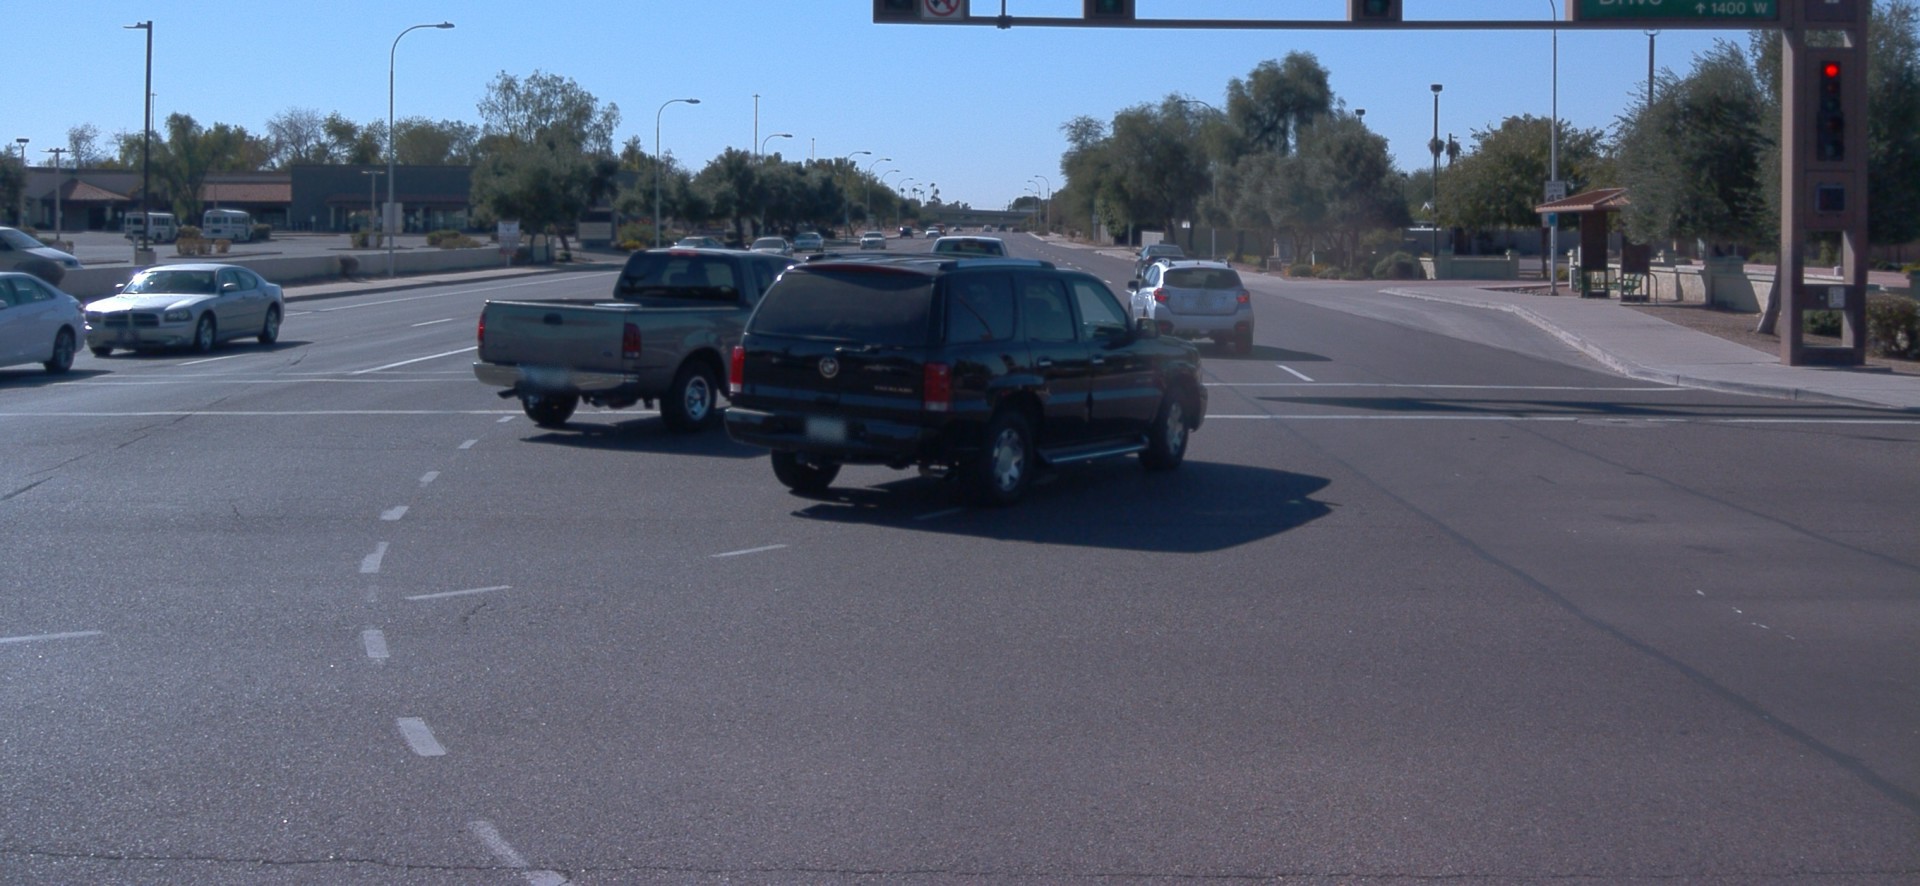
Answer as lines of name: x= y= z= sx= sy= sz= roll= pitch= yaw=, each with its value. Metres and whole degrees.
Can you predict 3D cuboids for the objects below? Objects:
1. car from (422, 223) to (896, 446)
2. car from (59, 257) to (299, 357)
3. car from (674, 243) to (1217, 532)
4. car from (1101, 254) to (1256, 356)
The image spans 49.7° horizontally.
car: x=-3.009 y=-1.335 z=22.491 sx=2.259 sy=2.072 sz=5.883 roll=2 pitch=5 yaw=24
car: x=-13.125 y=-2.373 z=35.212 sx=2.074 sy=1.493 sz=4.833 roll=0 pitch=5 yaw=2
car: x=0.097 y=-0.649 z=17.110 sx=2.196 sy=1.963 sz=5.091 roll=2 pitch=6 yaw=30
car: x=3.783 y=-2.496 z=36.667 sx=2.080 sy=1.603 sz=4.786 roll=0 pitch=5 yaw=-2
